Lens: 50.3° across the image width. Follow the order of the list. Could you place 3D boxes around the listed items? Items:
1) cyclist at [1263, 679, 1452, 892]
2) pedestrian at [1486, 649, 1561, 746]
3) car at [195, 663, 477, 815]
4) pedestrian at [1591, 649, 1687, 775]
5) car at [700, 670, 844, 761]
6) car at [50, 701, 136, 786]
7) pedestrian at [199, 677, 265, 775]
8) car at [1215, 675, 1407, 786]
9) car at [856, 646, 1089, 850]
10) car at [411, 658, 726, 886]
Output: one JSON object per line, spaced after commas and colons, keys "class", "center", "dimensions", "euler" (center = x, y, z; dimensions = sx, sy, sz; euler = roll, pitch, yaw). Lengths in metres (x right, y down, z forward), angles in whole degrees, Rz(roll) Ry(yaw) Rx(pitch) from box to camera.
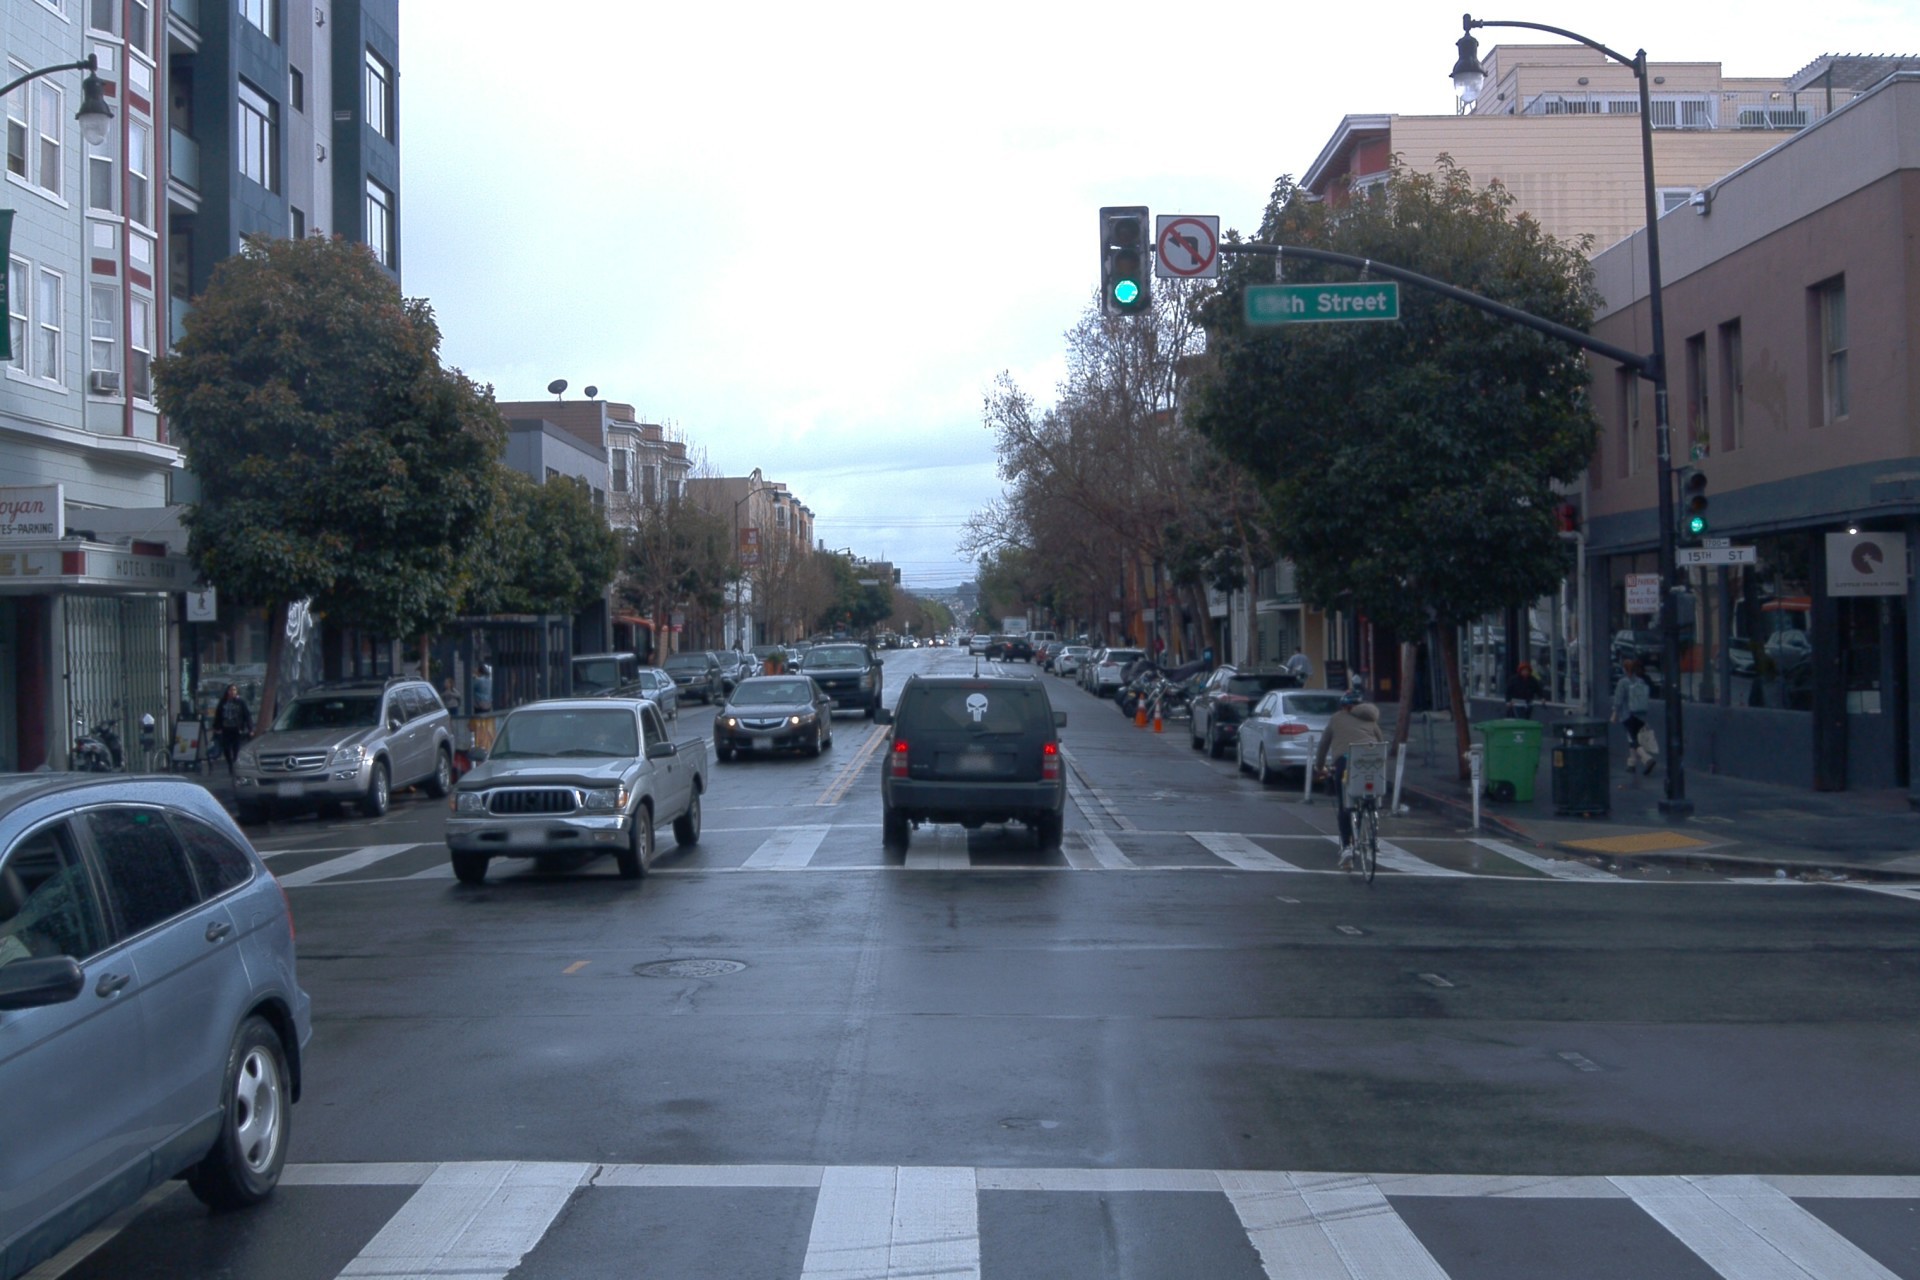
{"class": "cyclist", "center": [3.467, 1.234, 18.056], "dimensions": [1.265, 1.710, 2.011], "euler": [1, 0, 0]}
{"class": "pedestrian", "center": [9.894, 1.000, 35.940], "dimensions": [1.007, 1.650, 0.987], "euler": [0, 0, -3]}
{"class": "car", "center": [-8.802, 1.321, 29.456], "dimensions": [2.242, 1.870, 5.560], "euler": [1, 0, 1]}
{"class": "pedestrian", "center": [9.931, 1.042, 29.925], "dimensions": [0.995, 1.800, 0.926], "euler": [0, 0, -11]}
{"class": "car", "center": [-3.356, 1.331, 37.364], "dimensions": [2.084, 1.460, 4.508], "euler": [1, 0, 2]}
{"class": "car", "center": [-13.682, 1.619, 32.329], "dimensions": [0.637, 1.234, 1.930], "euler": [0, 0, -3]}
{"class": "pedestrian", "center": [-12.475, 1.465, 35.049], "dimensions": [0.851, 1.620, 0.817], "euler": [0, 0, -3]}
{"class": "car", "center": [5.394, 1.358, 32.059], "dimensions": [2.078, 1.490, 4.719], "euler": [0, 0, -1]}
{"class": "car", "center": [0.123, 1.028, 21.620], "dimensions": [2.194, 1.885, 4.386], "euler": [1, 0, 0]}
{"class": "car", "center": [-3.603, 1.133, 19.854], "dimensions": [1.970, 1.830, 5.201], "euler": [1, 0, 1]}
